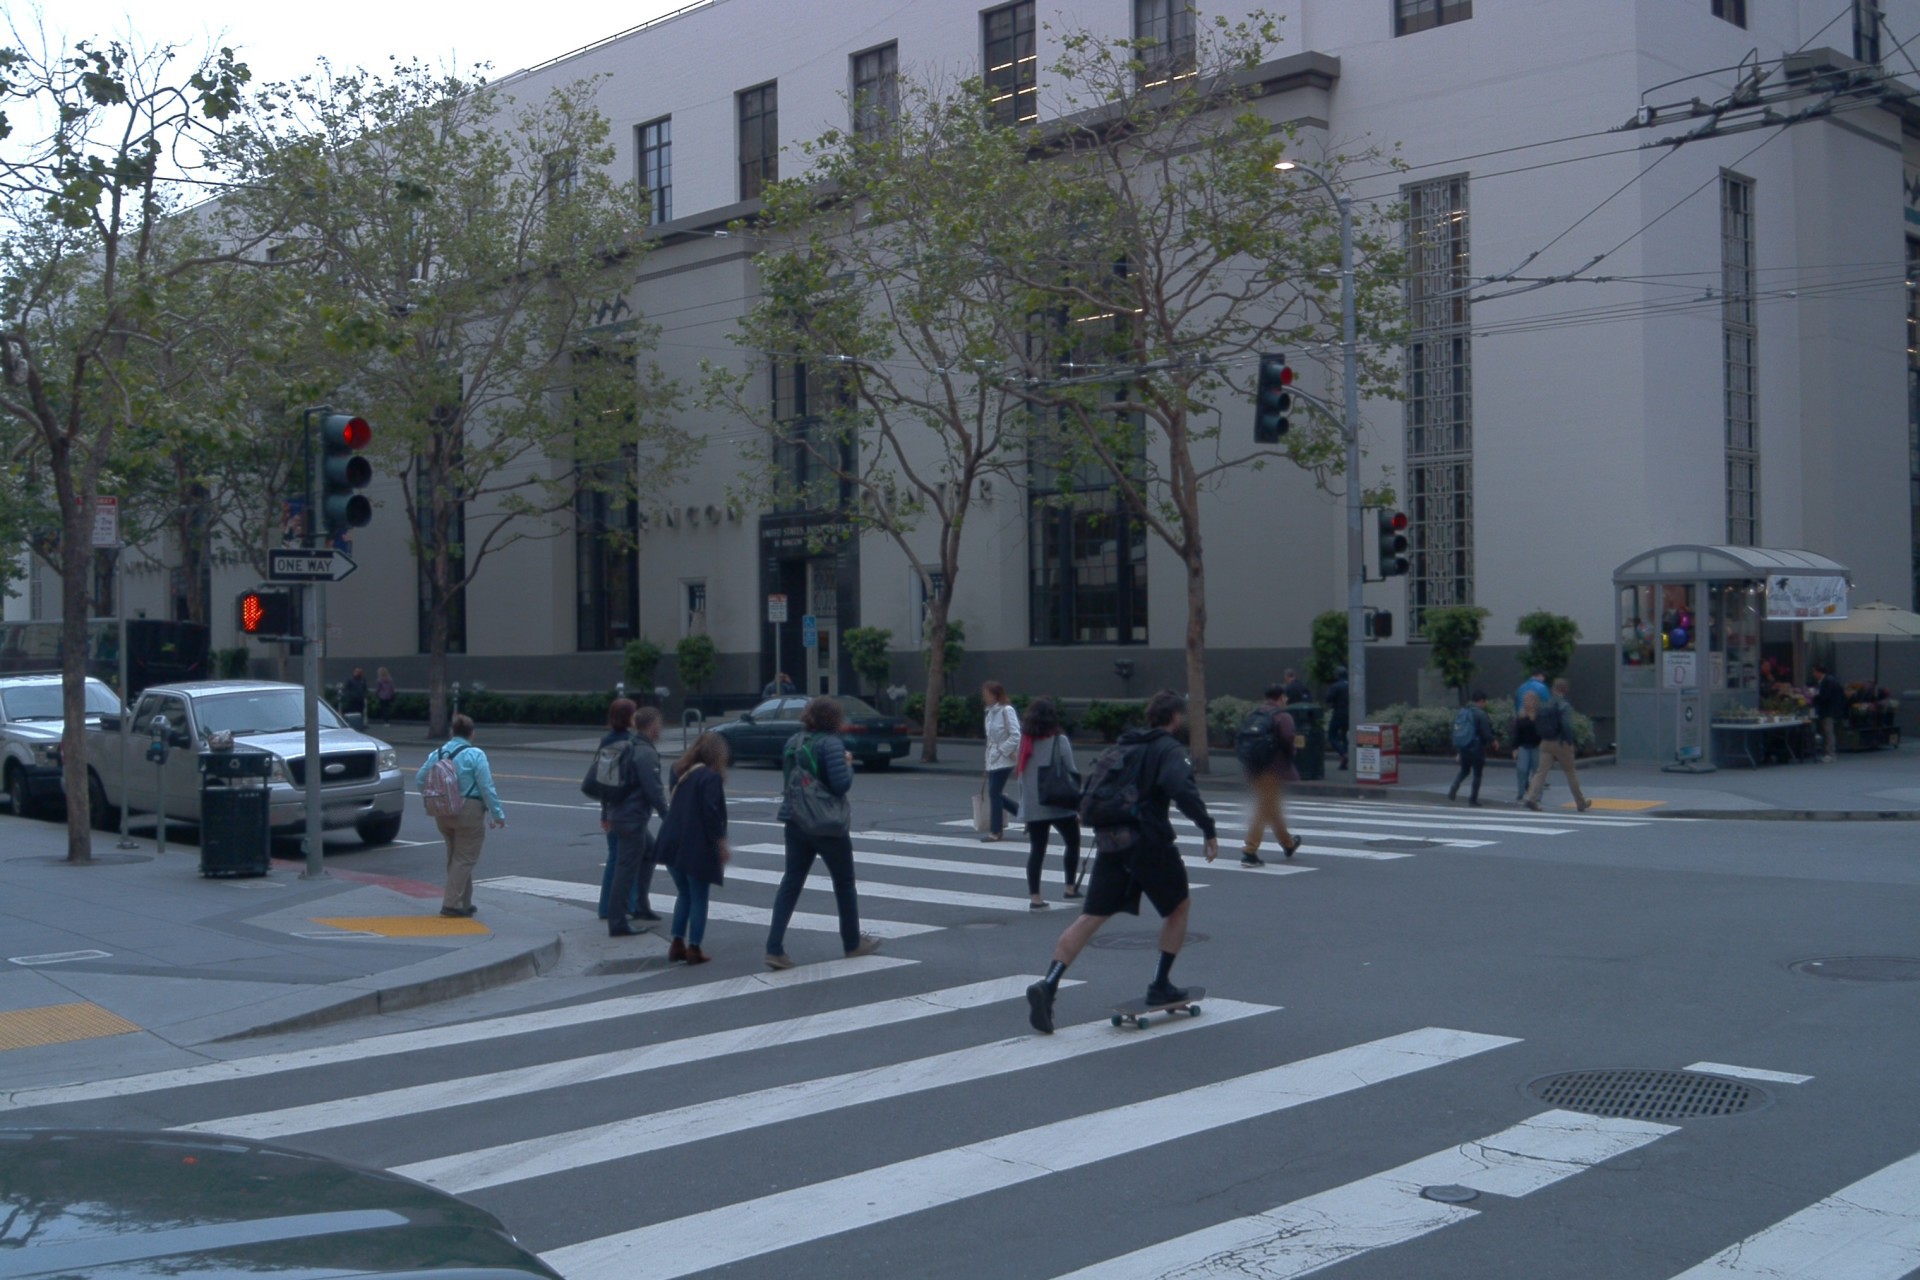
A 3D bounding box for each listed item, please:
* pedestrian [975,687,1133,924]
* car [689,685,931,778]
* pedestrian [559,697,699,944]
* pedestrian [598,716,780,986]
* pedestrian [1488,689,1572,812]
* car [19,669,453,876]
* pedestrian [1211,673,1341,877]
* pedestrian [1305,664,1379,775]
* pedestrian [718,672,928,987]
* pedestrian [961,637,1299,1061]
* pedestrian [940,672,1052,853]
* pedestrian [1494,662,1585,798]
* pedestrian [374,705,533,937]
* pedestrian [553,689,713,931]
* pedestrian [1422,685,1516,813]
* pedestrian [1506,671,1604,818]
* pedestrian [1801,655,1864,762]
[{"bbox_3d":[0.746,1.262,16.201,0.796,1.739,1.044,0,1,36],"label":"pedestrian"},{"bbox_3d":[-2.875,1.669,38.789,2.016,1.480,4.678,-1,1,-44],"label":"car"},{"bbox_3d":[-2.581,1.374,16.046,0.941,1.809,0.850,0,1,-19],"label":"pedestrian"},{"bbox_3d":[-1.882,1.433,14.385,0.882,1.741,0.892,0,1,34],"label":"pedestrian"},{"bbox_3d":[7.928,1.520,28.698,0.893,1.646,0.735,-1,1,-36],"label":"pedestrian"},{"bbox_3d":[-8.544,1.390,23.966,2.501,1.940,6.007,-1,1,-44],"label":"car"},{"bbox_3d":[2.893,1.208,18.894,0.964,1.771,0.716,-1,1,-40],"label":"pedestrian"},{"bbox_3d":[6.358,1.310,34.381,0.756,1.796,0.983,-1,1,-28],"label":"pedestrian"},{"bbox_3d":[-0.912,1.221,13.889,0.842,1.969,1.167,0,1,37],"label":"pedestrian"},{"bbox_3d":[0.946,1.052,11.330,1.544,2.118,1.097,-1,1,-43],"label":"pedestrian"},{"bbox_3d":[0.370,1.253,21.472,0.939,1.800,0.808,0,1,-19],"label":"pedestrian"},{"bbox_3d":[8.353,1.275,29.771,0.983,1.896,0.798,-1,1,-29],"label":"pedestrian"},{"bbox_3d":[-4.097,1.435,16.753,0.830,1.767,1.012,0,1,18],"label":"pedestrian"},{"bbox_3d":[-2.661,1.348,16.831,0.828,1.856,0.973,1,1,40],"label":"pedestrian"},{"bbox_3d":[7.117,1.507,28.873,0.974,1.706,0.840,-1,1,-34],"label":"pedestrian"},{"bbox_3d":[7.987,1.385,27.692,1.051,1.896,0.762,-1,1,-33],"label":"pedestrian"},{"bbox_3d":[14.668,1.136,34.691,0.751,1.746,0.848,1,1,42],"label":"pedestrian"}]
